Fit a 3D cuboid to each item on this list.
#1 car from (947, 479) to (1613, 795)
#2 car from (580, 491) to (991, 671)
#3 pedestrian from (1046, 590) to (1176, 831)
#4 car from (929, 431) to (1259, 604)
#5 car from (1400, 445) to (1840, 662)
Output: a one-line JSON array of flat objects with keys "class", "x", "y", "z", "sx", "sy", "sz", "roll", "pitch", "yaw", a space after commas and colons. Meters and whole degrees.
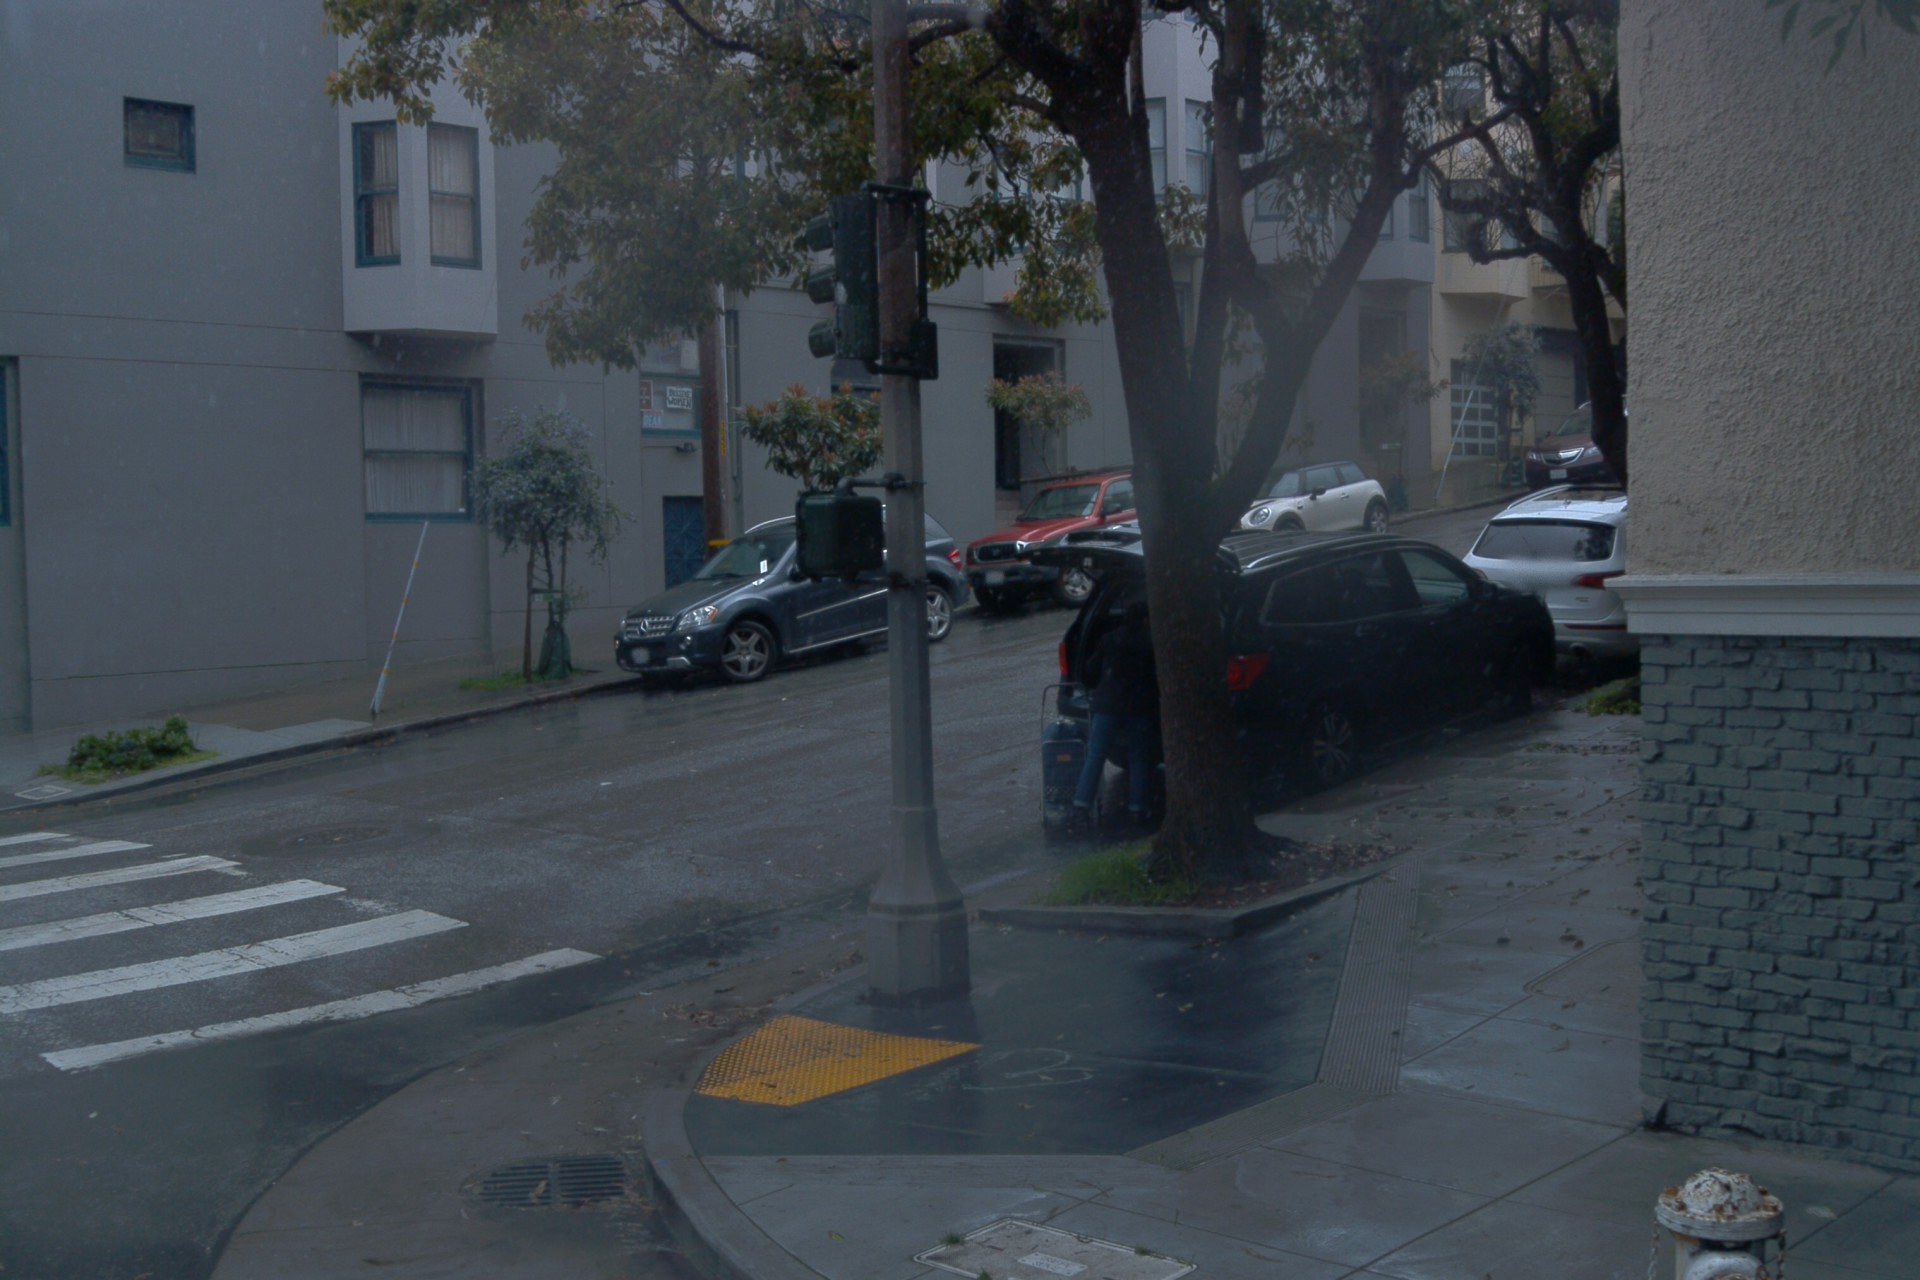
[{"class": "car", "x": 2.723, "y": -0.011, "z": 16.097, "sx": 2.384, "sy": 2.040, "sz": 5.680, "roll": 0, "pitch": 0, "yaw": 43}, {"class": "car", "x": -2.049, "y": -0.646, "z": 24.965, "sx": 2.225, "sy": 1.980, "sz": 4.671, "roll": 0, "pitch": 0, "yaw": 45}, {"class": "pedestrian", "x": 1.068, "y": 0.476, "z": 14.318, "sx": 0.793, "sy": 1.634, "sz": 0.885, "roll": 0, "pitch": 0, "yaw": 12}, {"class": "car", "x": 1.985, "y": -1.652, "z": 29.236, "sx": 4.537, "sy": 2.180, "sz": 2.259, "roll": 0, "pitch": 0, "yaw": -45}, {"class": "car", "x": 6.523, "y": -0.729, "z": 19.878, "sx": 2.355, "sy": 1.840, "sz": 4.675, "roll": 0, "pitch": 0, "yaw": 42}]
